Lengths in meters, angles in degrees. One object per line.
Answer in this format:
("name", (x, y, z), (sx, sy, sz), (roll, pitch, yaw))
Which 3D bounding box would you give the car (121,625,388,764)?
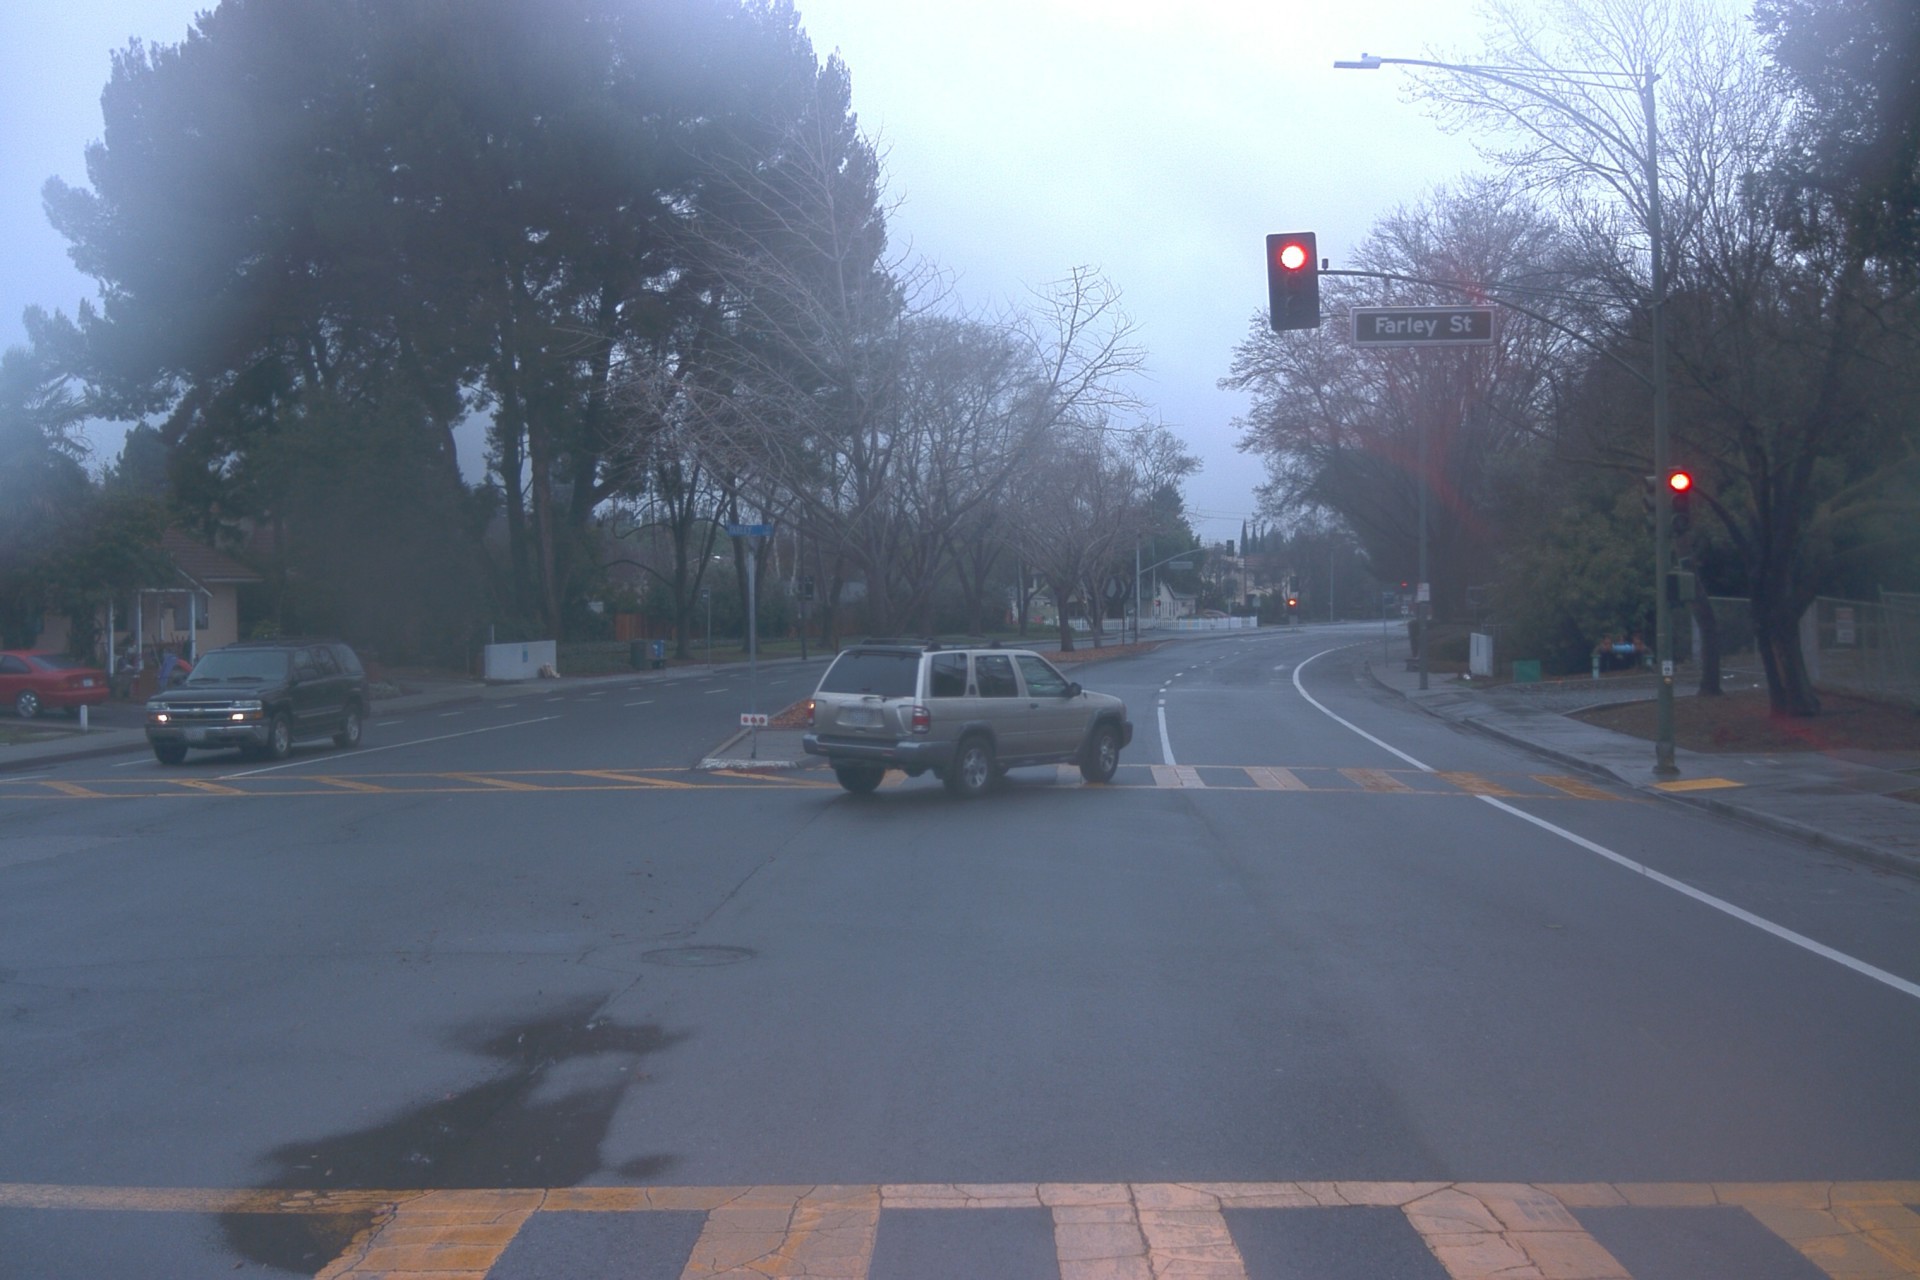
("car", (-11.163, 0.797, 33.374), (2.290, 2.060, 5.042), (0, 0, 4))

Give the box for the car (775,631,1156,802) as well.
("car", (0.186, 0.799, 24.522), (2.090, 1.810, 4.764), (0, 0, 36))
